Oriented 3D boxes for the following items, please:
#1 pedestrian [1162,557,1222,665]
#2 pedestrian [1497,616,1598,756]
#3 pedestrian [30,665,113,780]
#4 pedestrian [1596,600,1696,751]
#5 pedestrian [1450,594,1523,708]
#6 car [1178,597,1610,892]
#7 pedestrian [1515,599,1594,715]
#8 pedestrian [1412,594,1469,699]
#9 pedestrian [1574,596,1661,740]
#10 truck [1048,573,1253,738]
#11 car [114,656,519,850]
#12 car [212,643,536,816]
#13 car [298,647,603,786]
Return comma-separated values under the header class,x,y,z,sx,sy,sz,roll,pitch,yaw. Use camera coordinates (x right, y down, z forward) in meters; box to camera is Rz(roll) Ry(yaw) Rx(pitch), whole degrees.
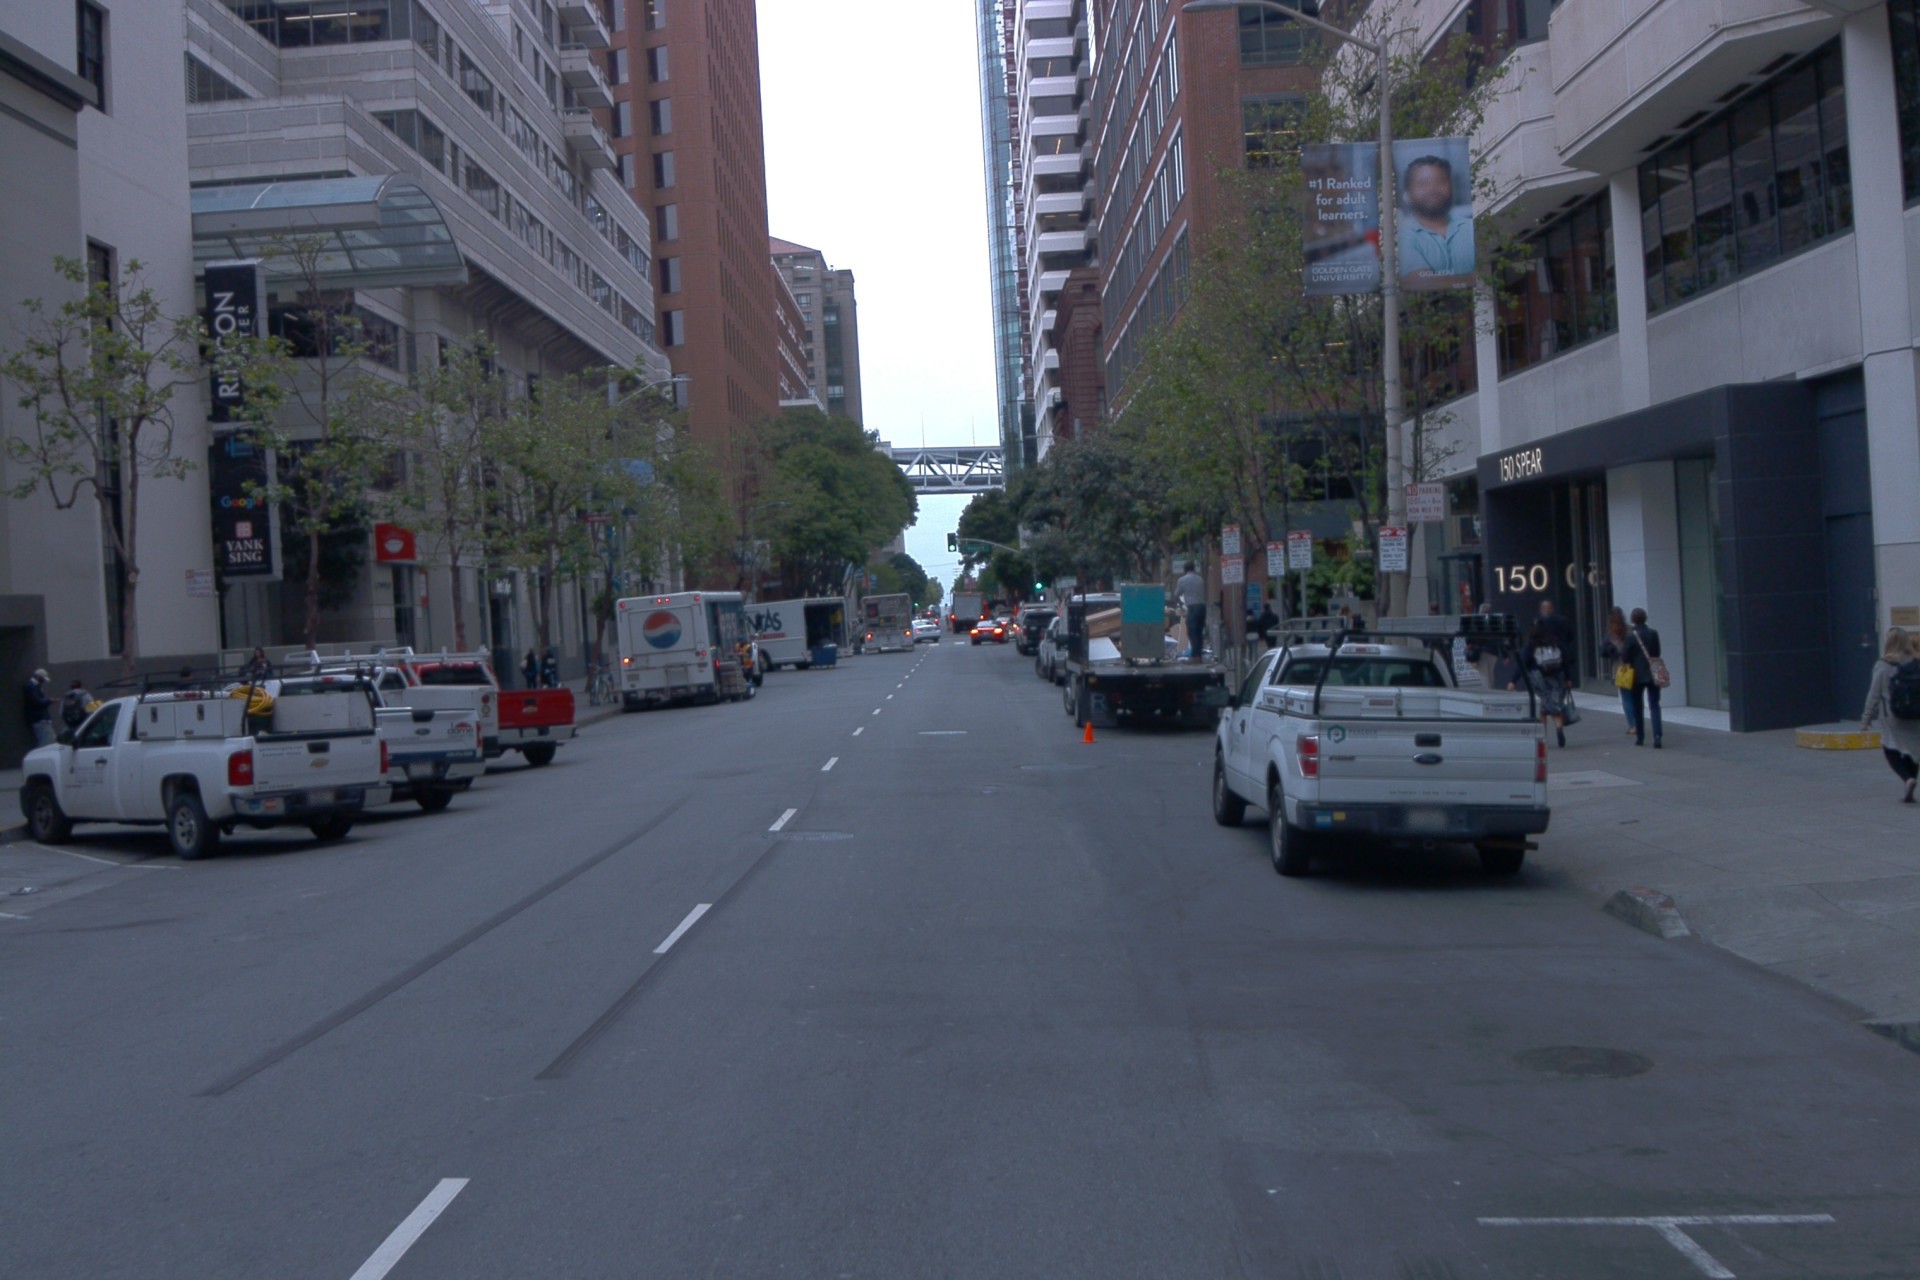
class,x,y,z,sx,sy,sz,roll,pitch,yaw
pedestrian,3.893,-0.487,34.504,0.765,1.800,0.660,-1,1,-23
pedestrian,7.201,0.549,25.253,1.001,1.680,0.999,0,1,4
pedestrian,-14.049,1.289,32.525,0.893,1.774,0.998,0,1,-1
pedestrian,8.167,0.411,24.510,0.945,1.770,0.913,0,1,5
pedestrian,8.788,0.173,34.340,0.933,1.880,1.073,0,1,0
car,3.562,0.744,18.404,2.514,2.200,6.098,0,1,-1
pedestrian,9.218,0.248,31.904,0.898,1.760,1.111,0,1,-1
pedestrian,8.664,0.109,37.100,0.798,1.873,0.986,0,1,1
pedestrian,8.474,0.350,26.521,0.833,1.826,0.913,0,1,1
truck,3.234,0.196,37.131,2.887,2.649,8.209,0,1,0
car,-8.692,1.367,27.412,5.997,2.200,2.498,0,1,43
car,-9.135,1.250,31.694,2.647,2.344,5.713,-1,1,-40
car,-8.982,1.238,35.880,5.910,2.150,2.431,1,1,45
